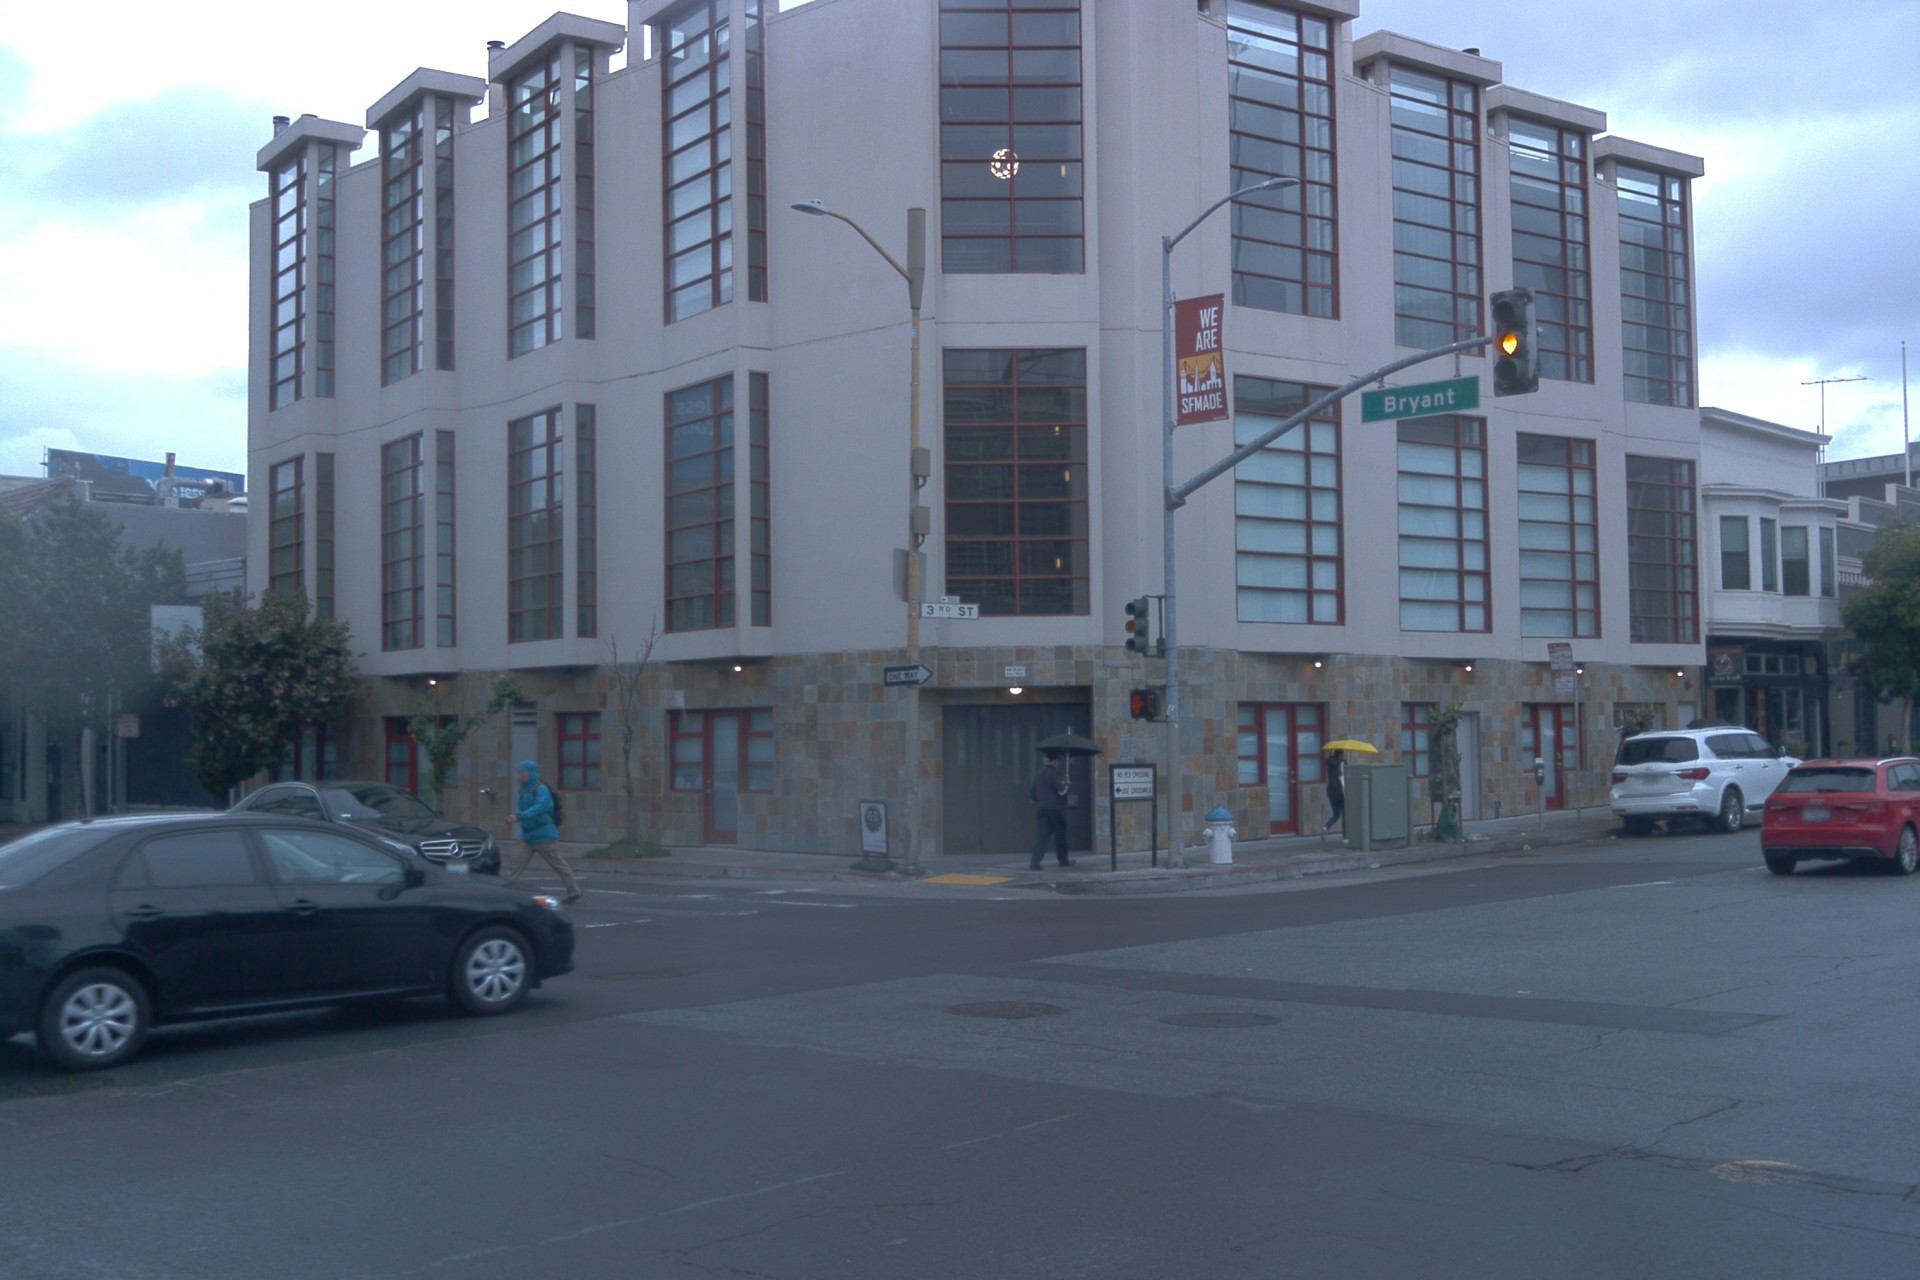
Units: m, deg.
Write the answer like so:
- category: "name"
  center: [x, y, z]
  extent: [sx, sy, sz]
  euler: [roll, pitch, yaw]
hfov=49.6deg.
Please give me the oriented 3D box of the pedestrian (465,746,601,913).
- category: "pedestrian"
  center: [-4.957, 2.170, 24.152]
  extent: [0.924, 1.810, 1.235]
  euler: [0, 0, 43]

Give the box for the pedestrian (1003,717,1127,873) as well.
- category: "pedestrian"
  center: [1.522, 2.200, 29.956]
  extent: [1.227, 2.110, 1.342]
  euler: [0, 0, 39]

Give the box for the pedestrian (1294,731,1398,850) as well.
- category: "pedestrian"
  center: [6.455, 2.497, 34.791]
  extent: [1.362, 1.860, 1.137]
  euler: [0, 0, -45]

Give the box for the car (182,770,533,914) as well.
- category: "car"
  center: [-7.914, 2.550, 27.070]
  extent: [4.853, 1.410, 2.145]
  euler: [0, 0, 42]
